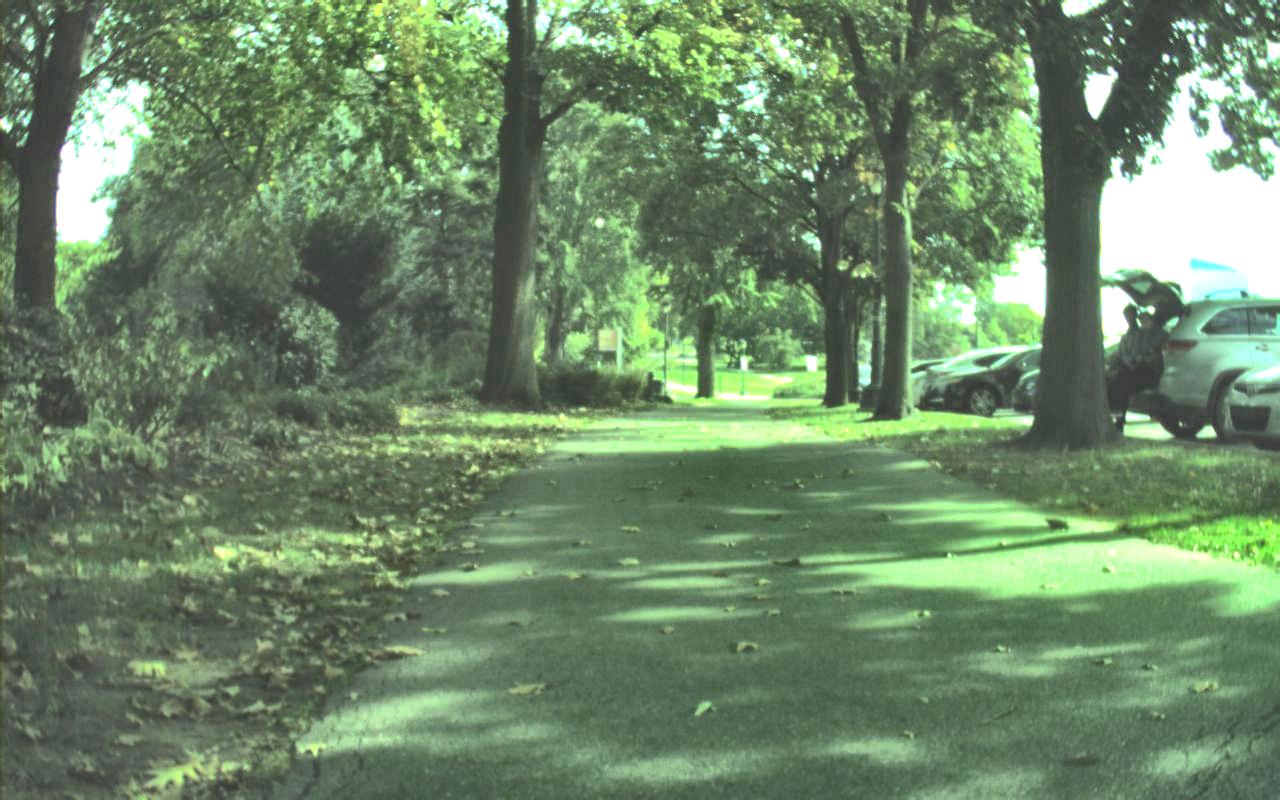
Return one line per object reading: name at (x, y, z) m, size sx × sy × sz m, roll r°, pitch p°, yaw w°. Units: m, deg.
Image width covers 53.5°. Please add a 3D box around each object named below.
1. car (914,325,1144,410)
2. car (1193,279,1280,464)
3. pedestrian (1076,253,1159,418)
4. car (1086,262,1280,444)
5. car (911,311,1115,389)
car at (7.851, -0.619, 24.736) m, size 4.451 × 1.616 × 1.979 m, roll 0°, pitch 1°, yaw 1°
car at (7.791, -0.225, 10.849) m, size 4.449 × 1.593 × 1.967 m, roll 0°, pitch 1°, yaw -7°
pedestrian at (5.592, -0.726, 14.042) m, size 0.960 × 1.880 × 0.897 m, roll 1°, pitch 0°, yaw 18°
car at (7.595, -0.489, 13.658) m, size 4.386 × 1.959 × 2.030 m, roll 1°, pitch 1°, yaw 3°
car at (8.455, -1.082, 27.885) m, size 4.406 × 1.680 × 1.963 m, roll 0°, pitch 1°, yaw 0°
